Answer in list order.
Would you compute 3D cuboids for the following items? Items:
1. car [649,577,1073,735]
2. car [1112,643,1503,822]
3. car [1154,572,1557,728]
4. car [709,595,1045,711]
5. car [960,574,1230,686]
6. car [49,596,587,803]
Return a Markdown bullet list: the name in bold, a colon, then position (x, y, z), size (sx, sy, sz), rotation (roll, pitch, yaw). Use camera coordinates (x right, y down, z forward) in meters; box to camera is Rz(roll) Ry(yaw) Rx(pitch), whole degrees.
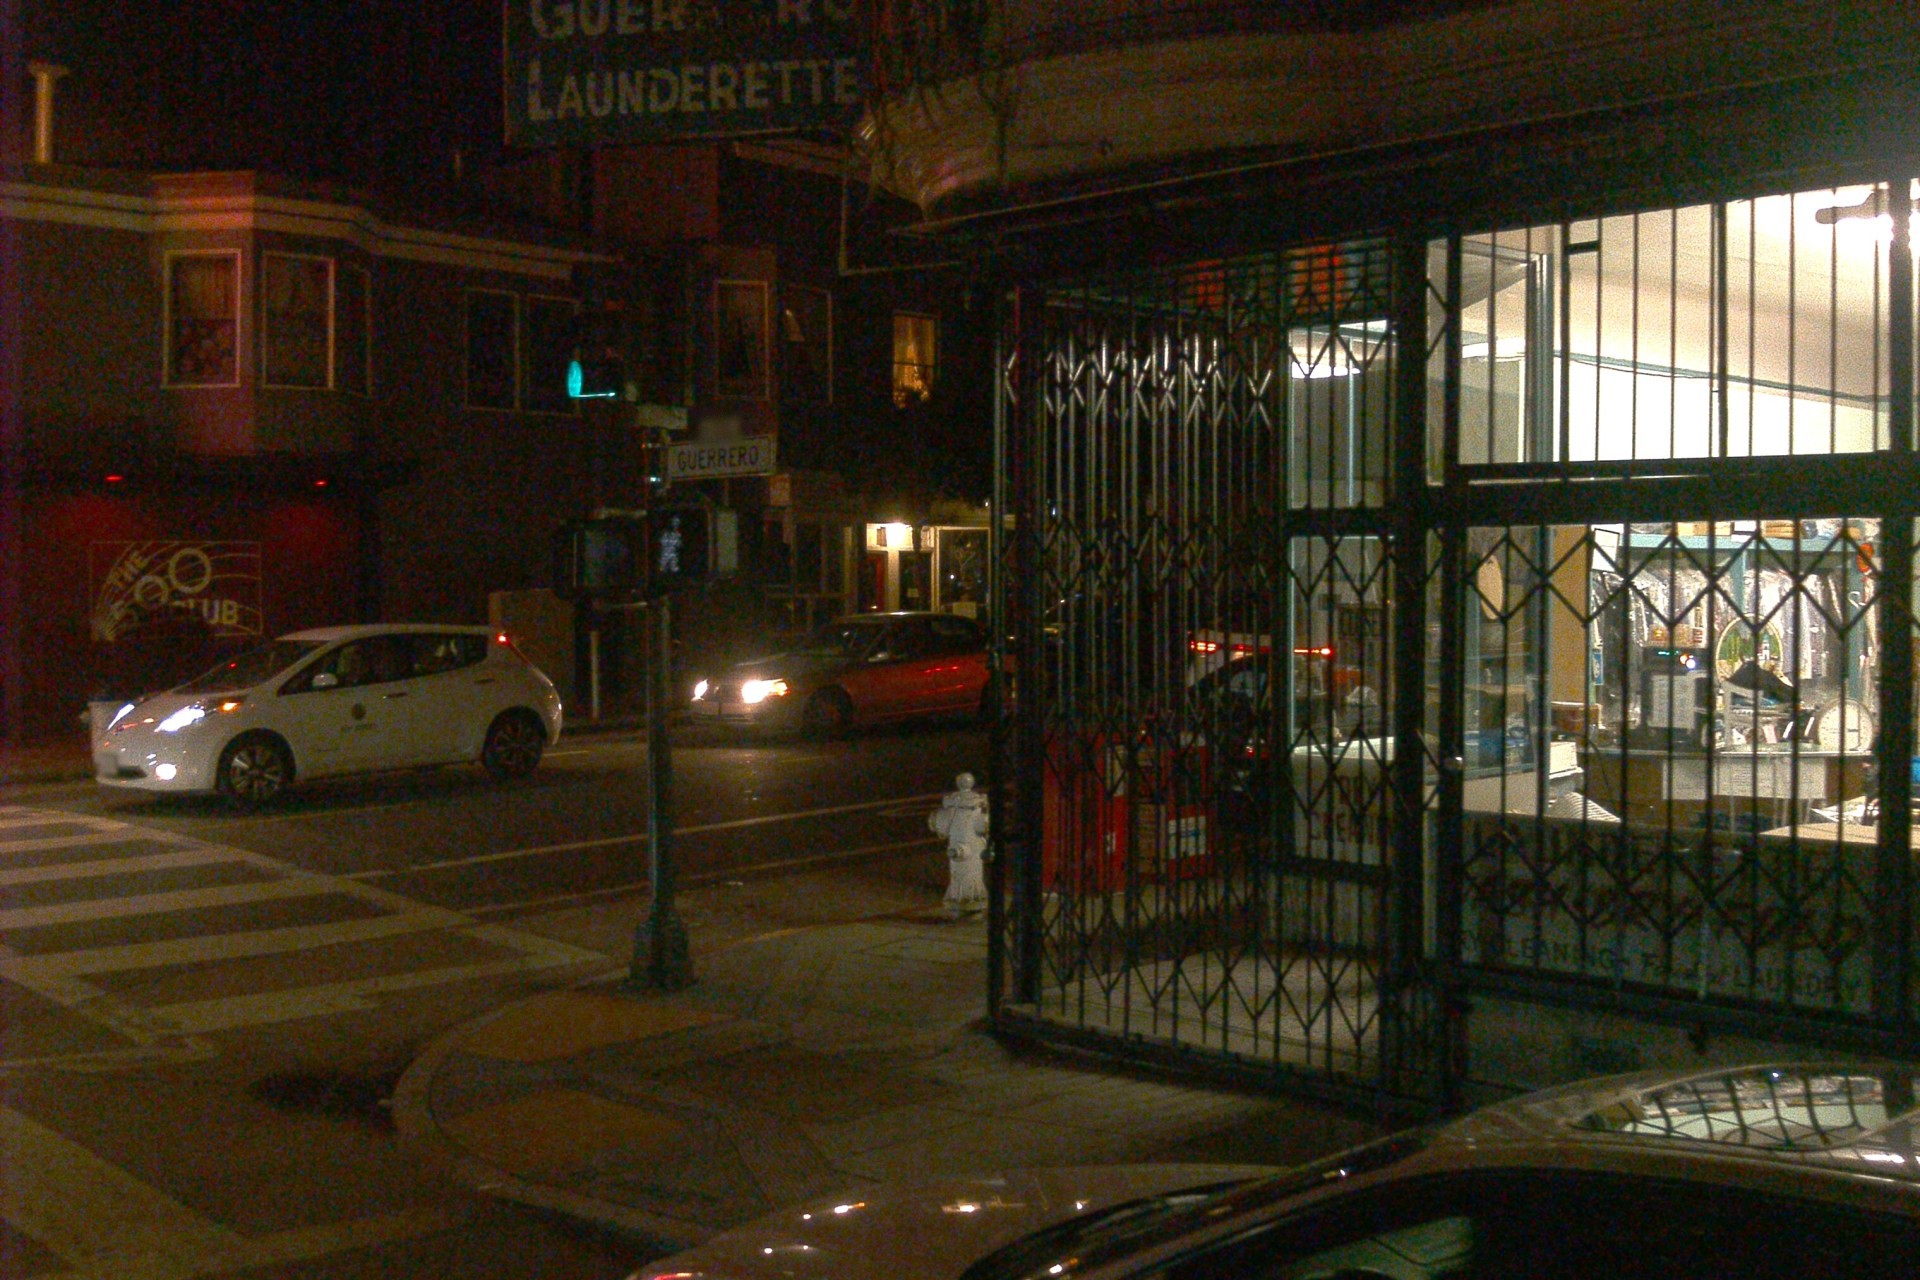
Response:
- **car**: position (-1.109, 0.200, 25.051), size (4.809, 1.720, 2.142), rotation (1, 0, -42)
- **car**: position (3.145, 0.763, 18.473), size (3.504, 1.420, 1.655), rotation (1, 0, -45)
- **car**: position (4.964, 0.129, 25.578), size (2.380, 1.720, 5.188), rotation (1, 0, 44)
- **car**: position (-1.112, 0.198, 30.311), size (1.884, 1.550, 4.981), rotation (1, 0, 43)
- **car**: position (2.243, -0.139, 33.672), size (1.991, 1.690, 4.349), rotation (1, 0, 44)
- **car**: position (-5.921, 0.512, 19.579), size (1.944, 1.720, 4.426), rotation (1, 0, 43)
